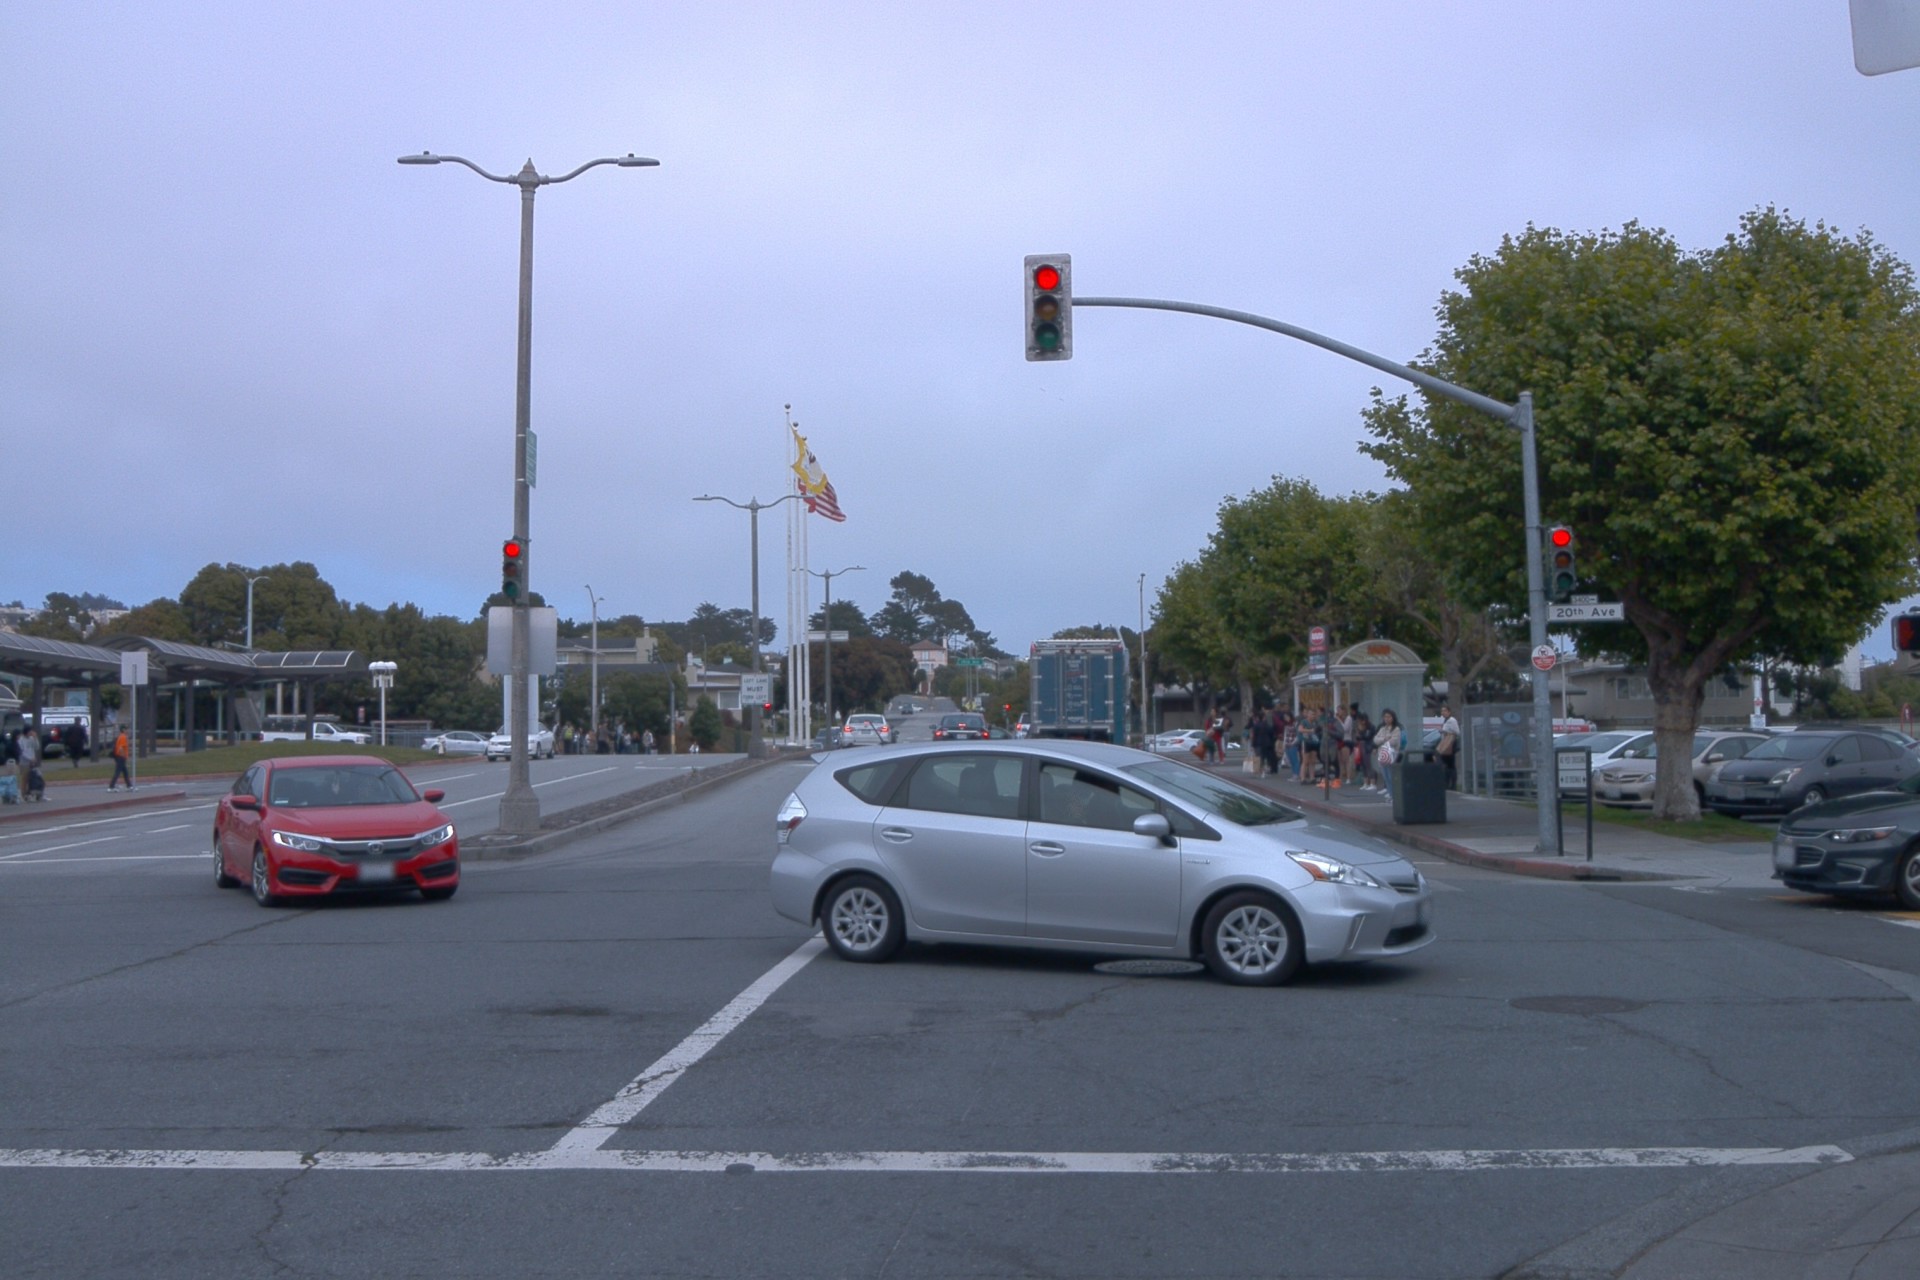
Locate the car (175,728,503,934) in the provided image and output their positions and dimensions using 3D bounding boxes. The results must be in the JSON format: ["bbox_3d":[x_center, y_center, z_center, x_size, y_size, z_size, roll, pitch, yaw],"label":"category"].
[{"bbox_3d":[-6.357,1.792,20.642,2.273,1.526,4.669,-1,1,-28],"label":"car"}]

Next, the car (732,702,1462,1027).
[{"bbox_3d":[0.953,1.431,14.511,4.701,1.825,2.101,0,1,26],"label":"car"}]

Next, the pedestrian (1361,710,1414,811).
[{"bbox_3d":[7.486,2.103,36.012,0.604,1.700,0.727,-1,1,-22],"label":"pedestrian"}]

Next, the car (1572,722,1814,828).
[{"bbox_3d":[12.852,2.318,36.016,3.959,1.540,1.985,-1,1,-33],"label":"car"}]
